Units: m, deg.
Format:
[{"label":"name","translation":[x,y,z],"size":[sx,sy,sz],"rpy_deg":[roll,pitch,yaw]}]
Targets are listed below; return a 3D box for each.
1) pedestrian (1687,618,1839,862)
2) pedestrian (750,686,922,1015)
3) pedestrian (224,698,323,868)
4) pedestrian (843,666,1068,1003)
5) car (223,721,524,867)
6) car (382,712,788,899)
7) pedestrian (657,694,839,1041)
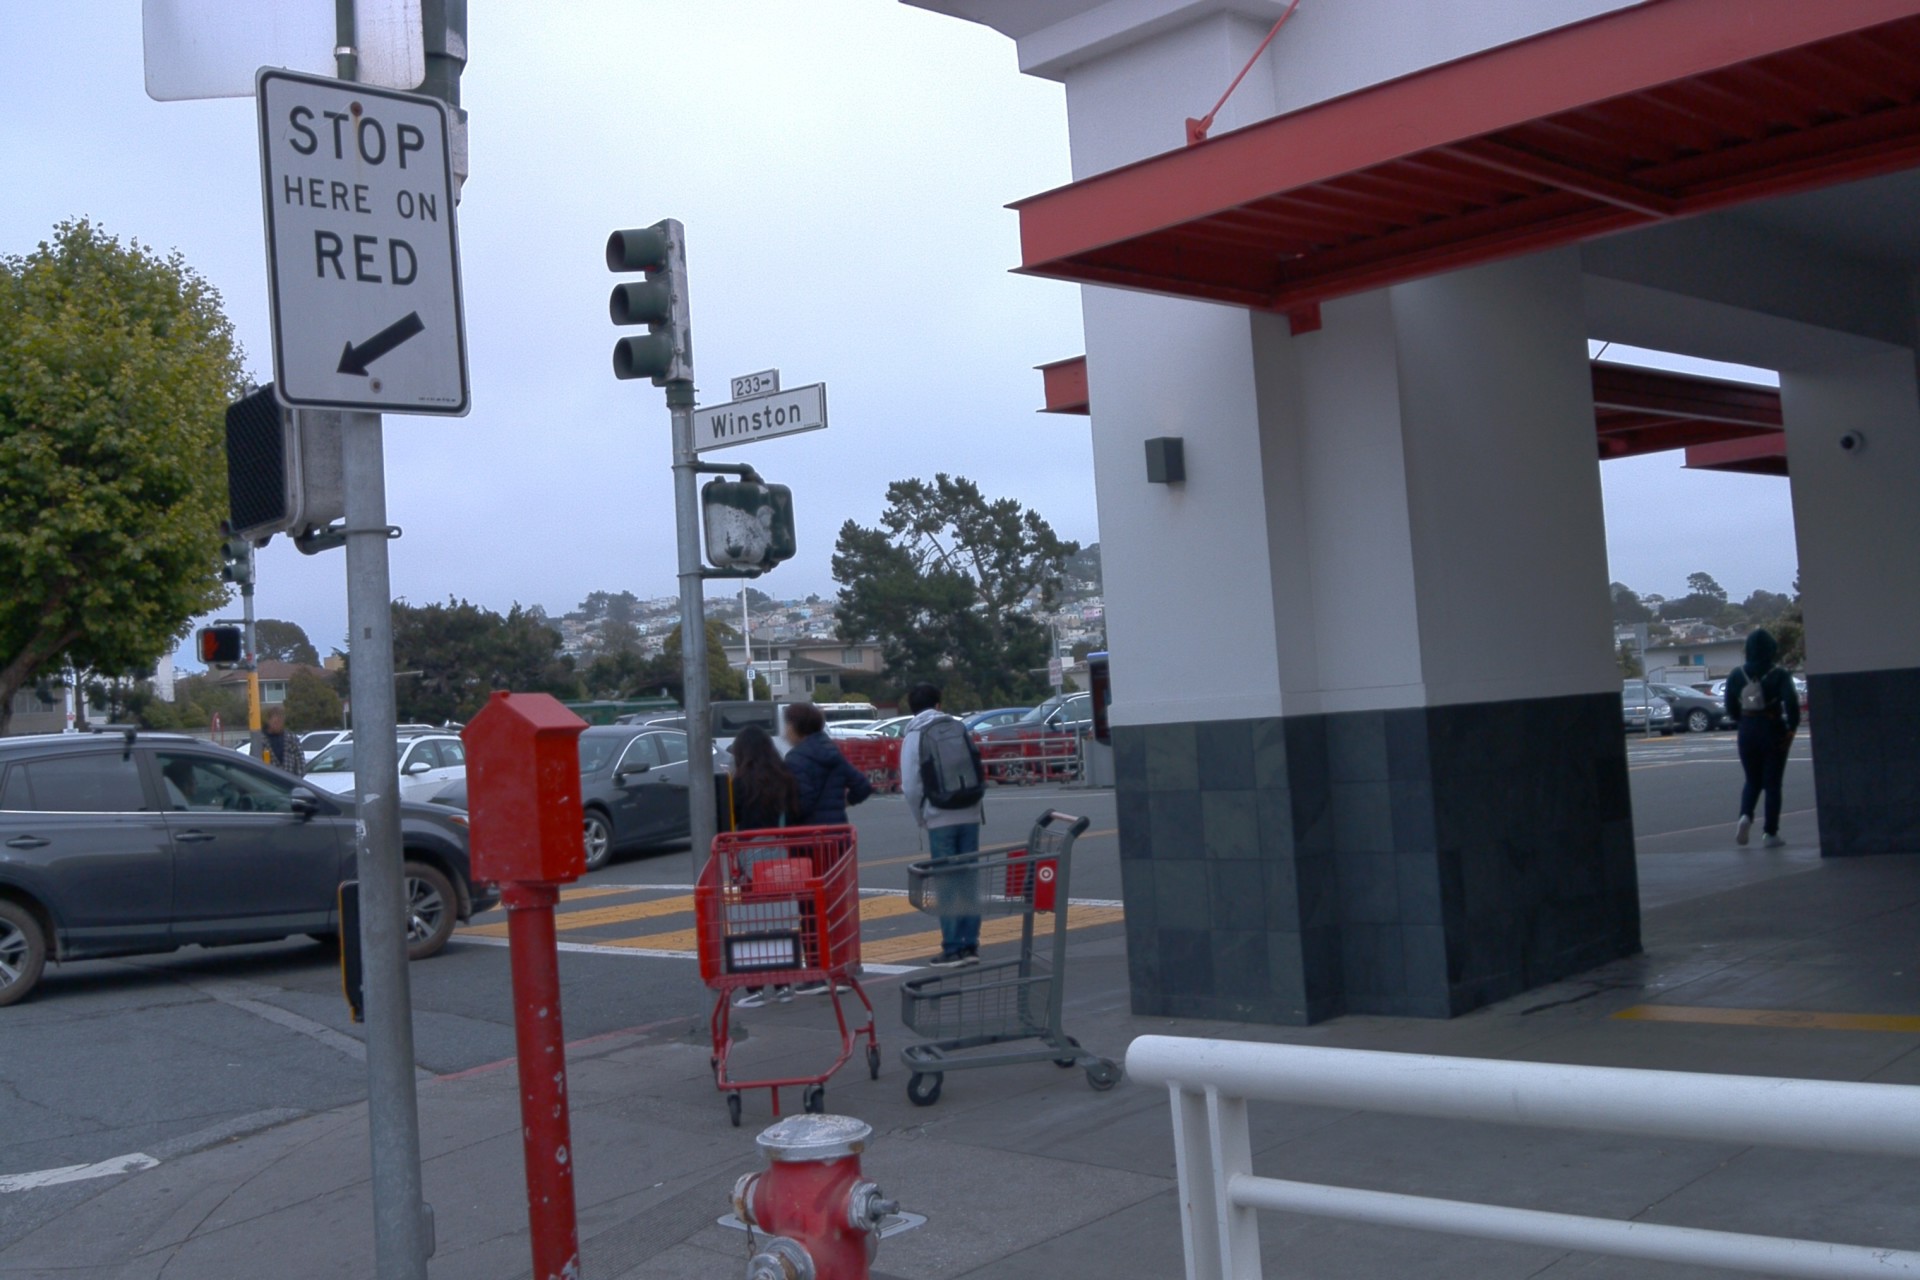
[{"label":"pedestrian","translation":[5.929,0.701,15.176],"size":[0.766,1.730,0.947],"rpy_deg":[0,0,41]},{"label":"pedestrian","translation":[-0.672,1.090,11.025],"size":[0.627,1.650,0.761],"rpy_deg":[0,0,-32]},{"label":"pedestrian","translation":[-7.816,1.593,23.377],"size":[0.855,1.820,1.277],"rpy_deg":[0,0,-28]},{"label":"pedestrian","translation":[-0.040,1.051,11.683],"size":[0.816,1.770,1.084],"rpy_deg":[0,0,-32]},{"label":"car","translation":[-7.826,2.007,27.935],"size":[2.005,1.570,4.452],"rpy_deg":[0,1,14]},{"label":"car","translation":[-3.907,1.687,22.454],"size":[2.098,1.570,4.866],"rpy_deg":[0,1,22]},{"label":"pedestrian","translation":[-1.103,1.130,10.615],"size":[0.627,1.660,0.867],"rpy_deg":[0,0,-30]}]
